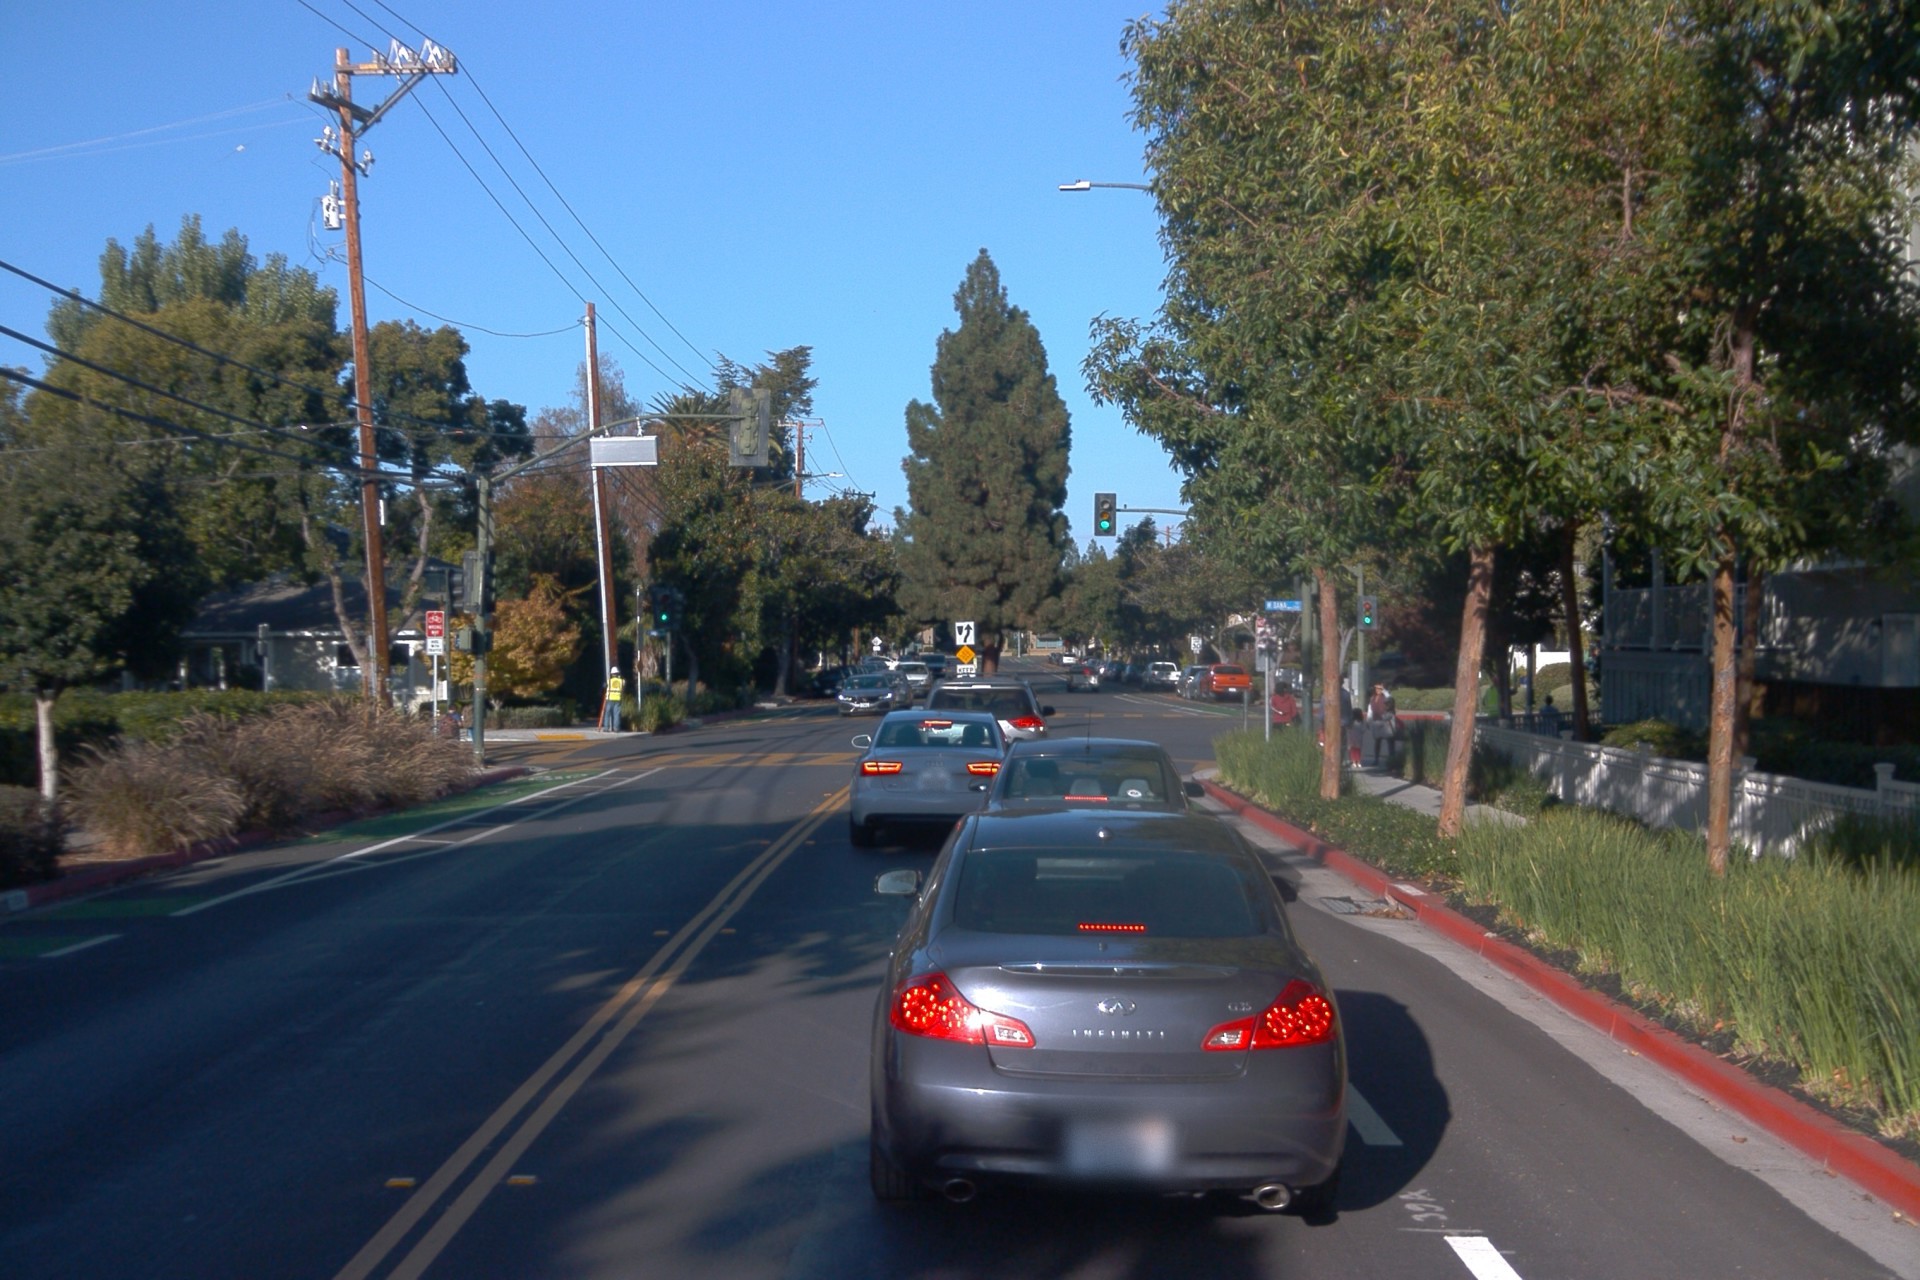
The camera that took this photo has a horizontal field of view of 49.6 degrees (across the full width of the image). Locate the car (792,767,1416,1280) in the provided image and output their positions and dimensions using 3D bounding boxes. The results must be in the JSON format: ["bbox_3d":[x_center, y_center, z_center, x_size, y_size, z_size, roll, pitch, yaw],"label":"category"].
[{"bbox_3d":[0.567,1.432,9.064,2.033,1.460,4.435,1,0,3],"label":"car"}]

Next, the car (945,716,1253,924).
[{"bbox_3d":[0.993,1.270,15.845,2.028,1.210,4.035,1,0,2],"label":"car"}]

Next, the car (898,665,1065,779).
[{"bbox_3d":[0.358,1.173,31.397,2.317,1.510,4.744,1,0,1],"label":"car"}]

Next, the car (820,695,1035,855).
[{"bbox_3d":[-0.260,1.446,23.532,2.122,1.500,4.397,1,0,3],"label":"car"}]
